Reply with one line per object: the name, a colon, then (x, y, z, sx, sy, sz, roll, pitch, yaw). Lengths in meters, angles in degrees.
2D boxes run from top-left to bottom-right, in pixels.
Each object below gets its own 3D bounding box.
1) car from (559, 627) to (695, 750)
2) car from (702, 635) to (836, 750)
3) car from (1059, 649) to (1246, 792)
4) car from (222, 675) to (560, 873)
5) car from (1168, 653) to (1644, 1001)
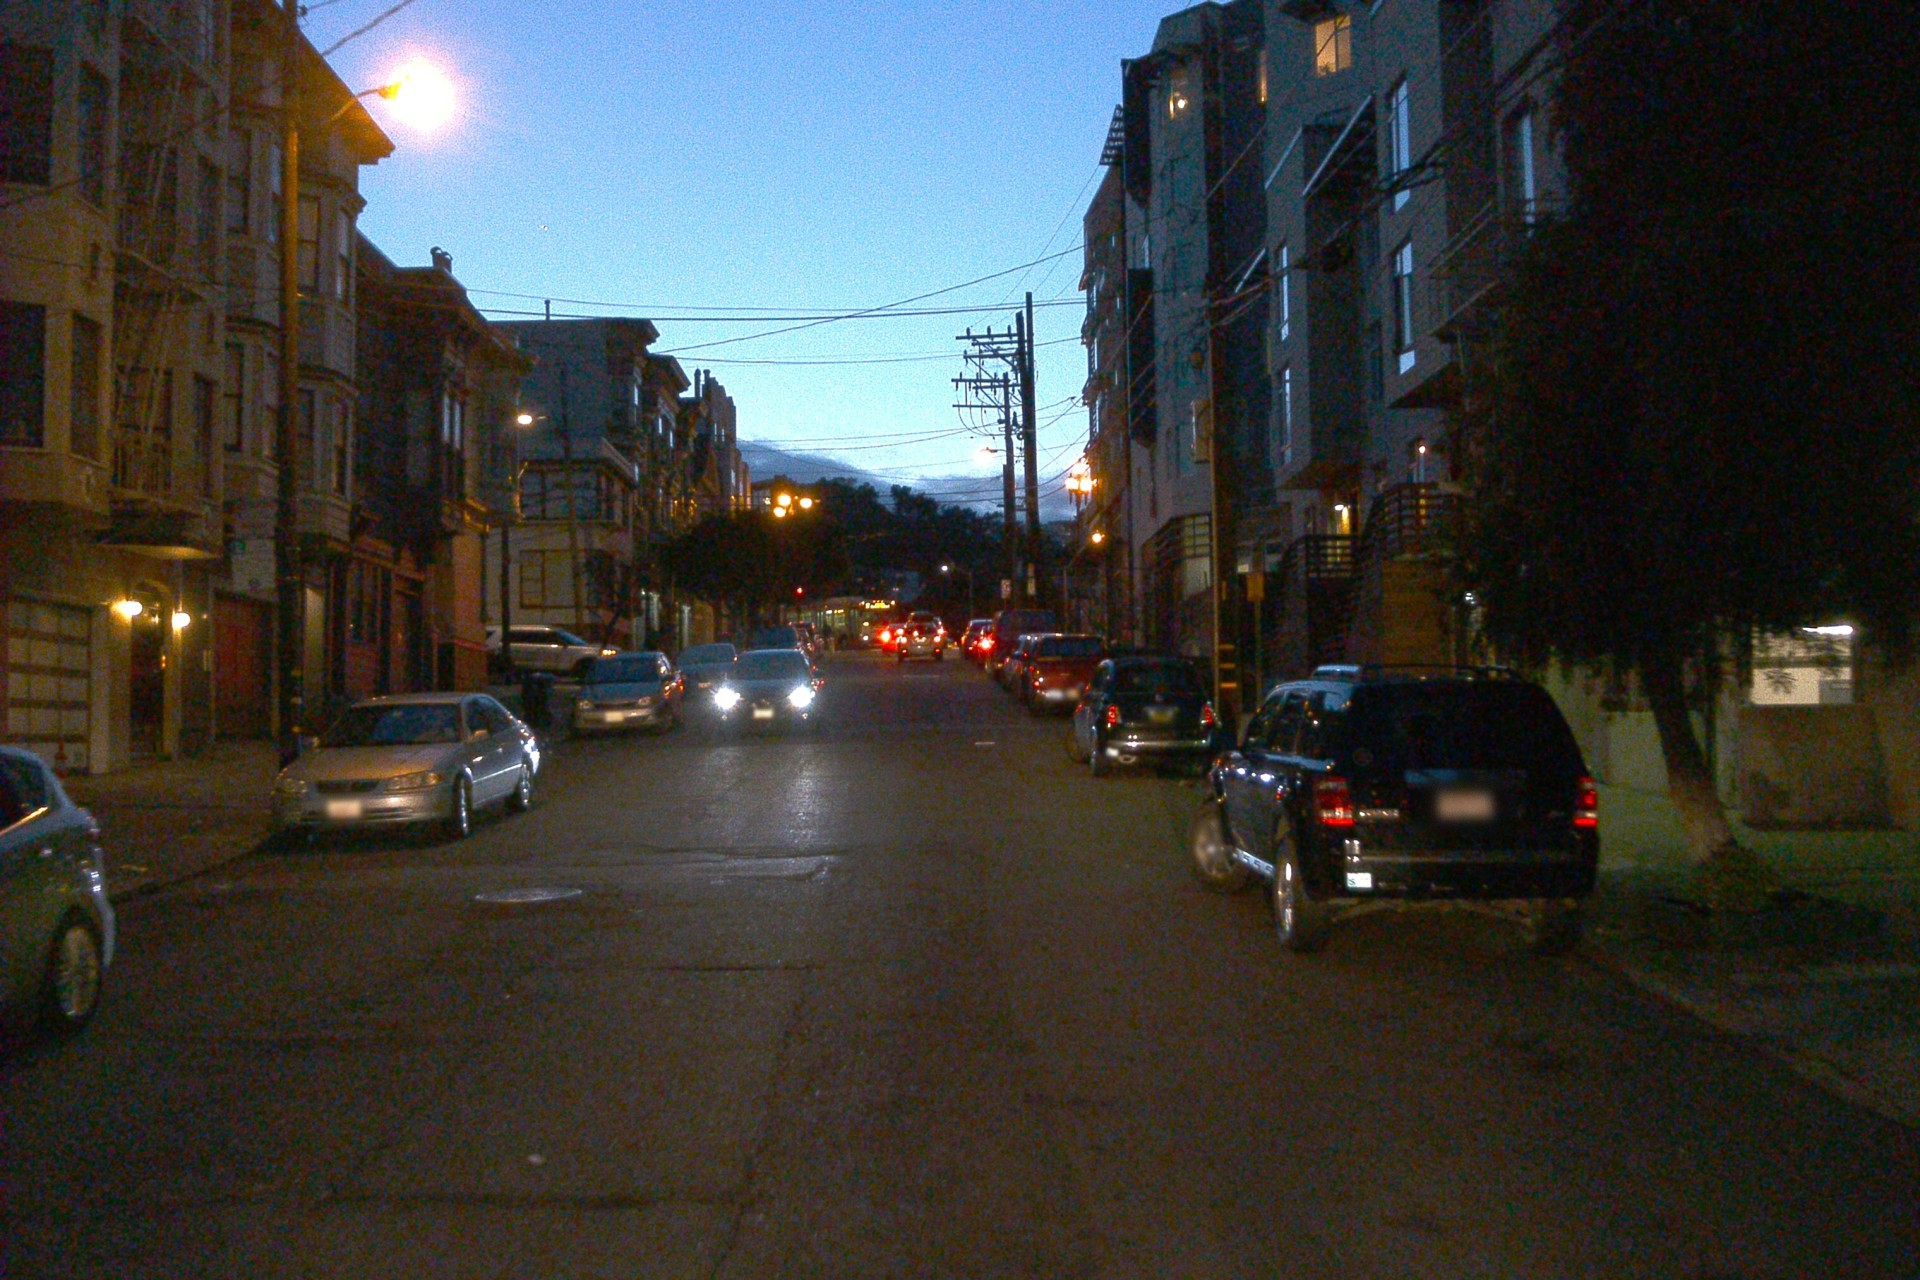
car: (-6.086, 0.830, 38.005, 1.933, 2.100, 4.140, 0, 1, -1)
car: (-3.359, 0.880, 36.961, 2.034, 1.850, 4.625, 0, 1, -1)
car: (2.441, 0.990, 26.923, 1.854, 1.660, 3.633, 0, 1, -4)
car: (-5.780, 1.293, 21.589, 2.094, 1.690, 4.822, 0, 1, 2)
car: (2.791, 1.087, 14.049, 2.143, 1.880, 4.497, 0, 1, -2)
